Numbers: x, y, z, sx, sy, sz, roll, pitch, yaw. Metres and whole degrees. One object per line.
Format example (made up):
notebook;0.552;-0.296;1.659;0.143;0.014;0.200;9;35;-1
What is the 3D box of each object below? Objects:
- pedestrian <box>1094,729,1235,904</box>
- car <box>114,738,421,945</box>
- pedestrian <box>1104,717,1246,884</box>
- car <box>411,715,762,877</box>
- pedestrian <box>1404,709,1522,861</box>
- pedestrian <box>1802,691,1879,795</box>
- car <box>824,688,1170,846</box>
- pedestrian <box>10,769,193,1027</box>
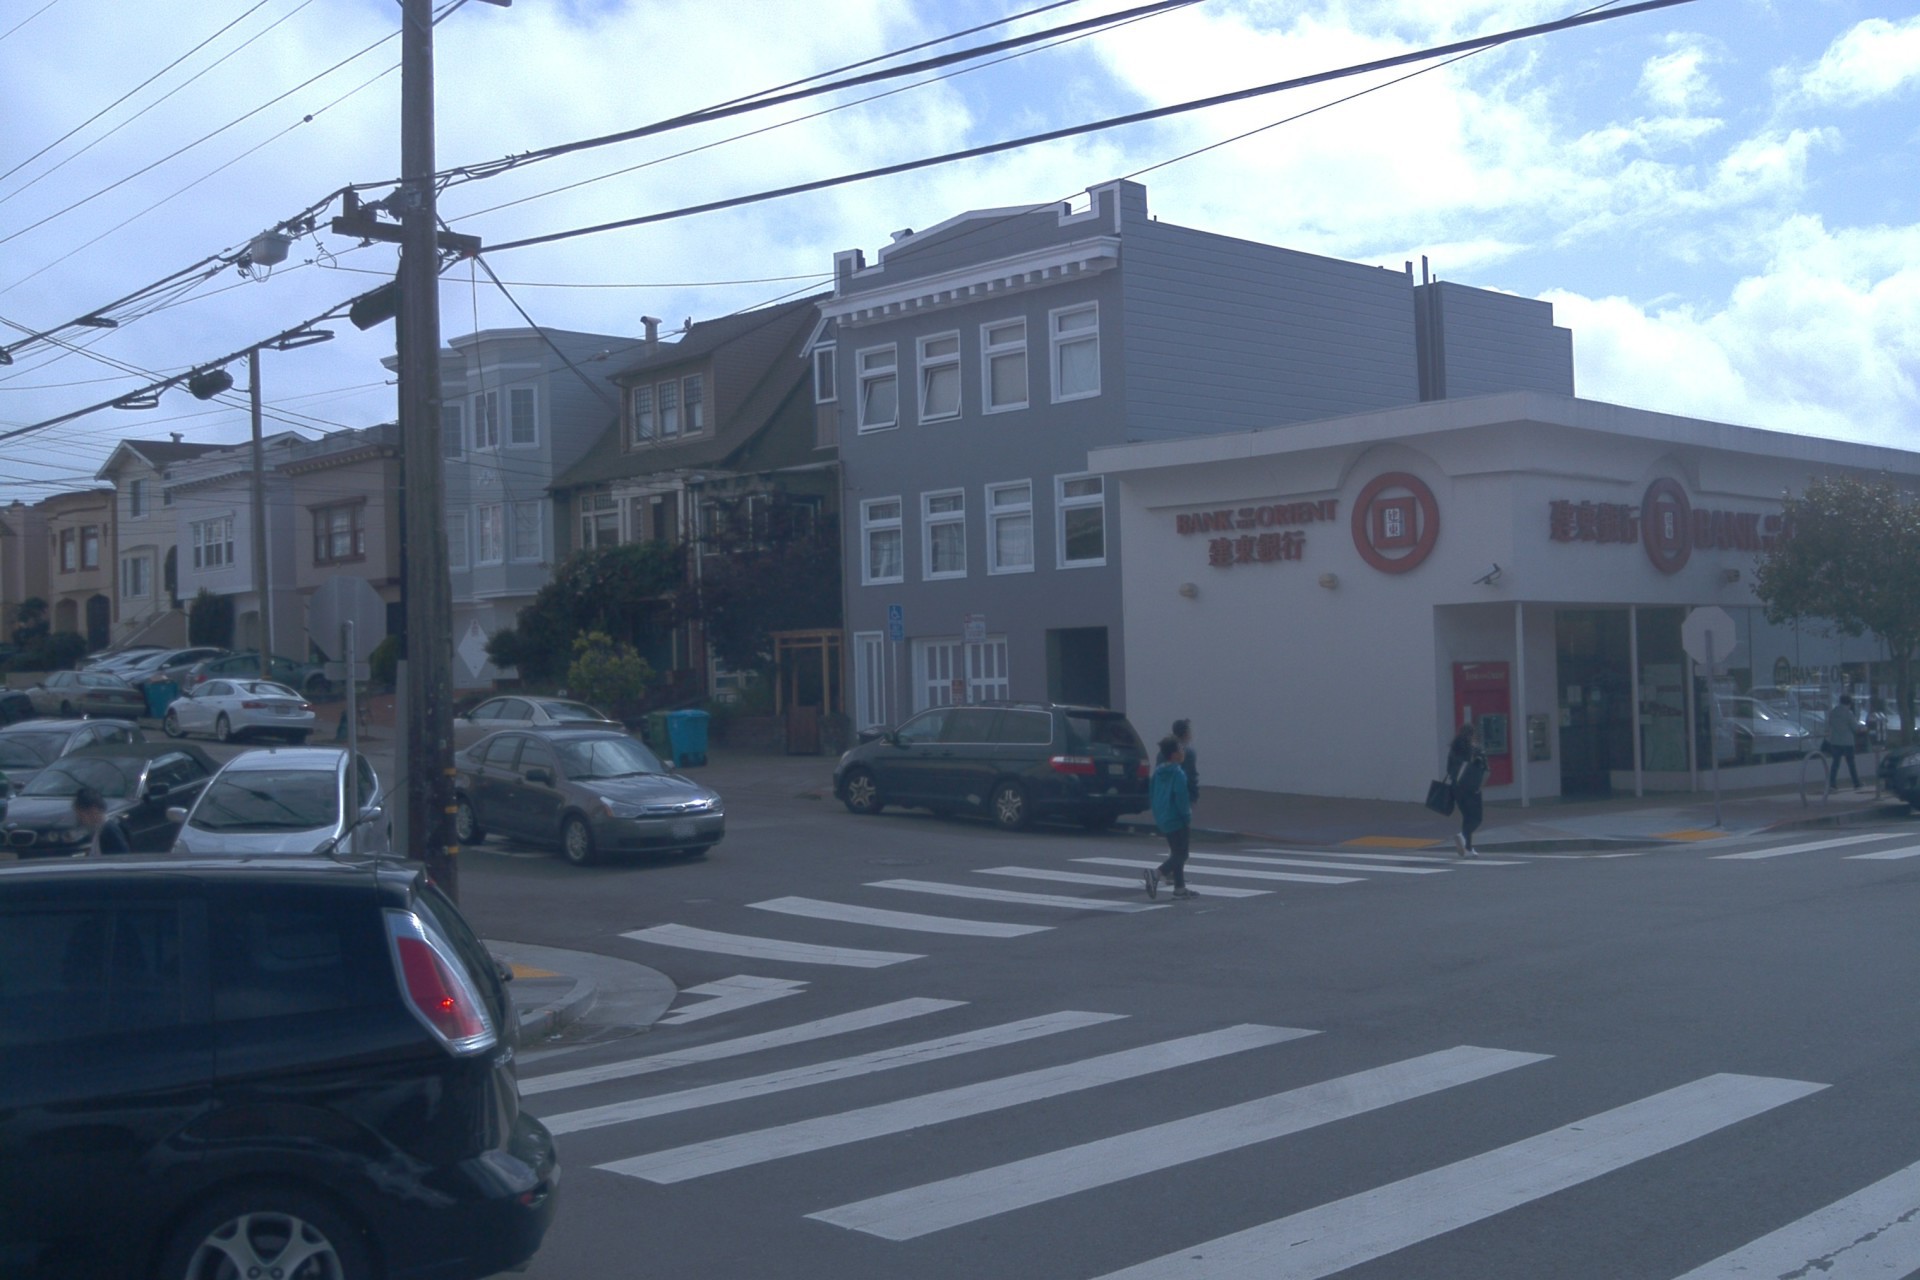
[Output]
pedestrian;1.915;1.624;19.456;1.131;1.532;0.720;0;0;-38
car;-6.749;1.902;20.776;2.094;1.641;4.188;0;0;-7
pedestrian;2.170;1.588;20.937;0.765;1.566;1.303;0;0;45
car;-4.521;1.763;24.755;2.068;1.587;4.401;0;0;-43
pedestrian;5.792;1.640;23.936;0.985;1.653;0.948;0;0;43
pedestrian;14.380;1.665;33.969;0.943;1.643;0.781;0;0;-36
car;0.443;1.701;29.380;2.133;1.937;4.769;0;0;-44
pedestrian;-6.231;1.833;15.107;1.014;1.722;0.763;0;0;-45
